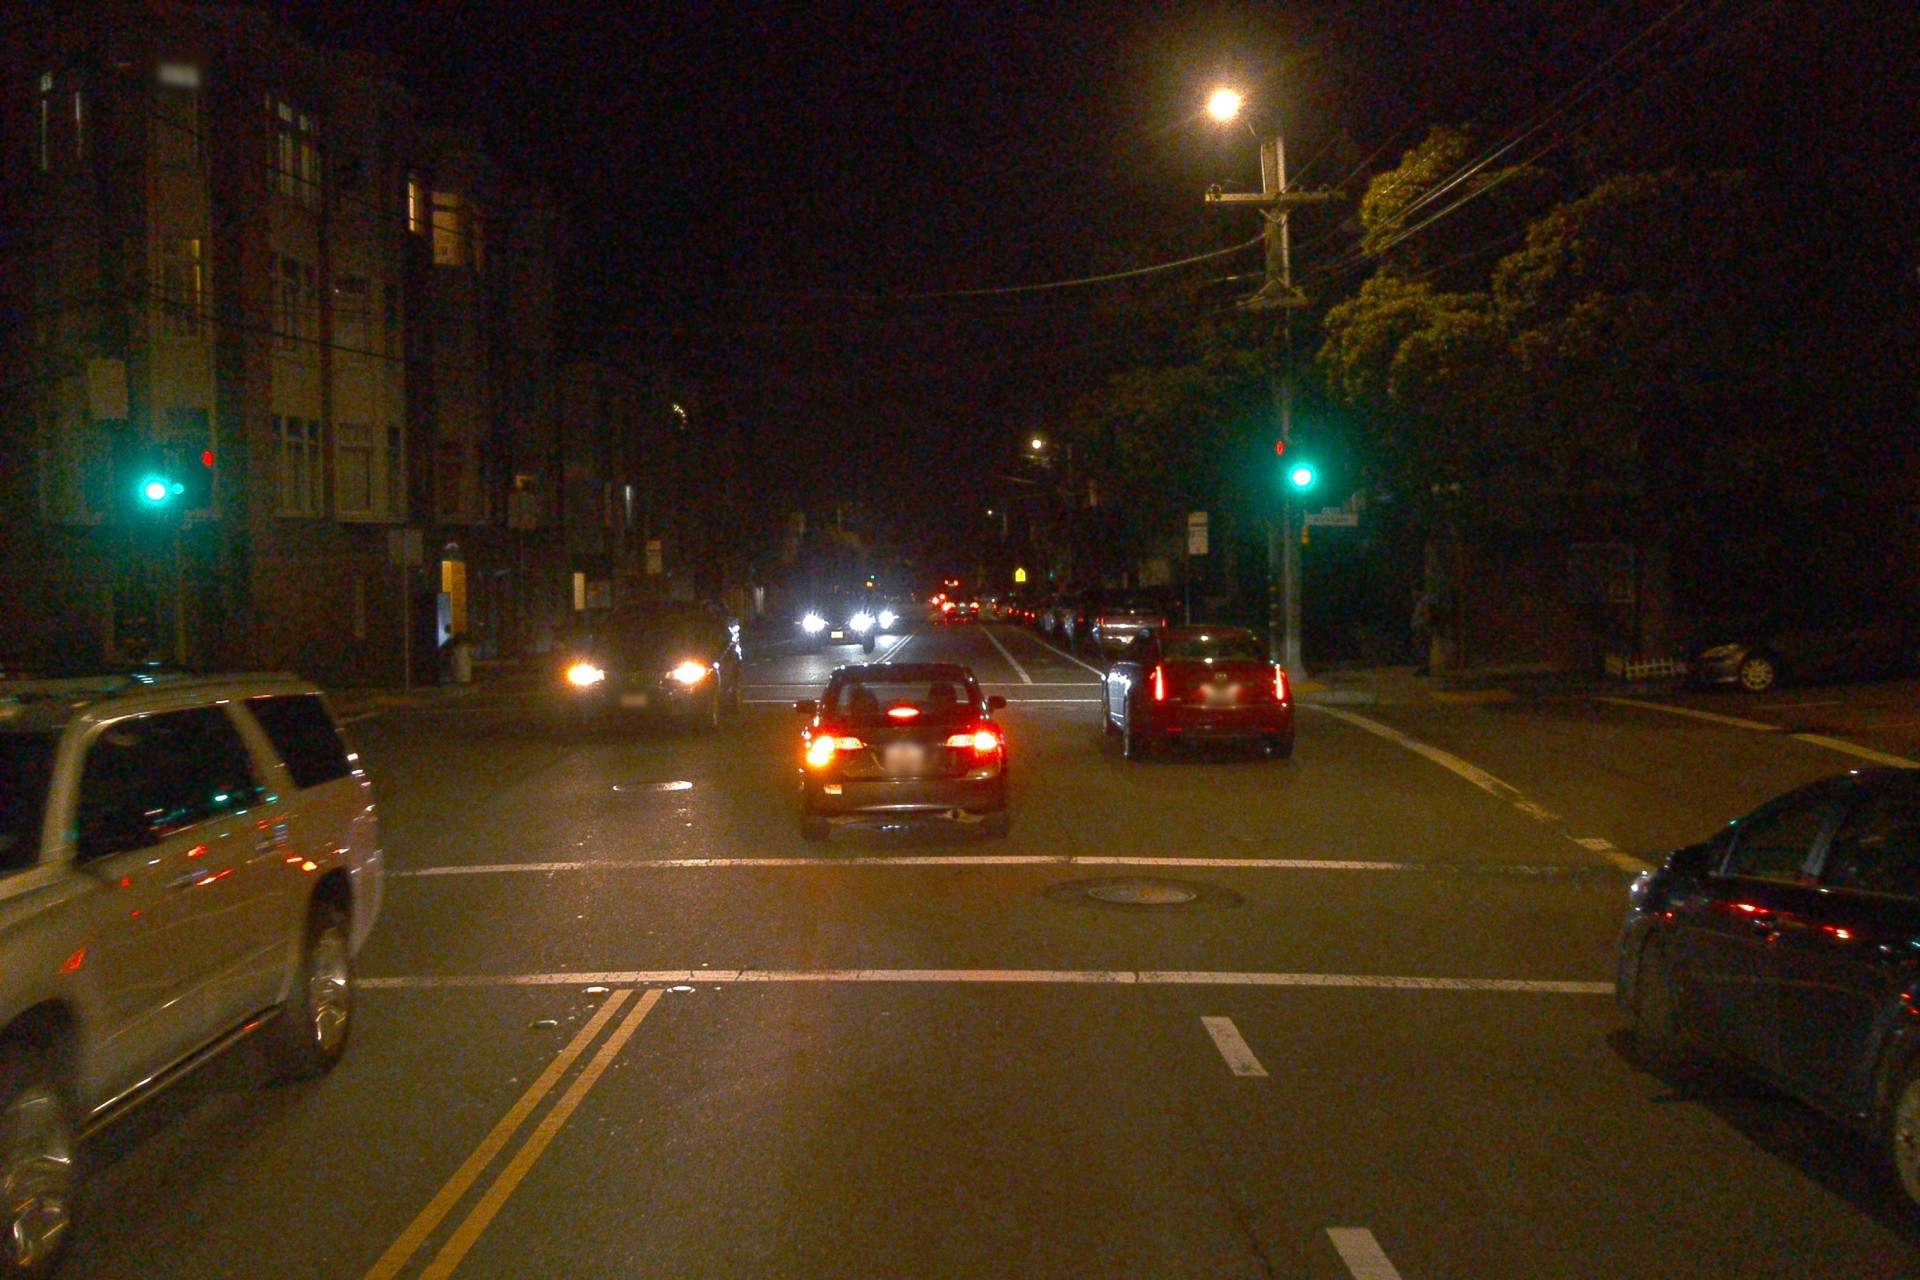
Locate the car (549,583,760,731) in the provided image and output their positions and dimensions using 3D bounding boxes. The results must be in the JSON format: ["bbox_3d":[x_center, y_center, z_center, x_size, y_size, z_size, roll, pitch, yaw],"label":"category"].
[{"bbox_3d":[-4.023,0.200,27.685,2.145,1.820,4.496,1,0,0],"label":"car"}]

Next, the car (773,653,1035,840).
[{"bbox_3d":[-0.537,0.867,18.564,2.070,1.420,4.588,0,0,-2],"label":"car"}]

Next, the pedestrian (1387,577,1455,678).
[{"bbox_3d":[7.809,-0.215,34.635,0.936,1.691,0.623,0,0,-10],"label":"pedestrian"}]

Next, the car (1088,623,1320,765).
[{"bbox_3d":[2.728,0.564,23.914,2.067,1.490,4.419,0,0,-1],"label":"car"}]
